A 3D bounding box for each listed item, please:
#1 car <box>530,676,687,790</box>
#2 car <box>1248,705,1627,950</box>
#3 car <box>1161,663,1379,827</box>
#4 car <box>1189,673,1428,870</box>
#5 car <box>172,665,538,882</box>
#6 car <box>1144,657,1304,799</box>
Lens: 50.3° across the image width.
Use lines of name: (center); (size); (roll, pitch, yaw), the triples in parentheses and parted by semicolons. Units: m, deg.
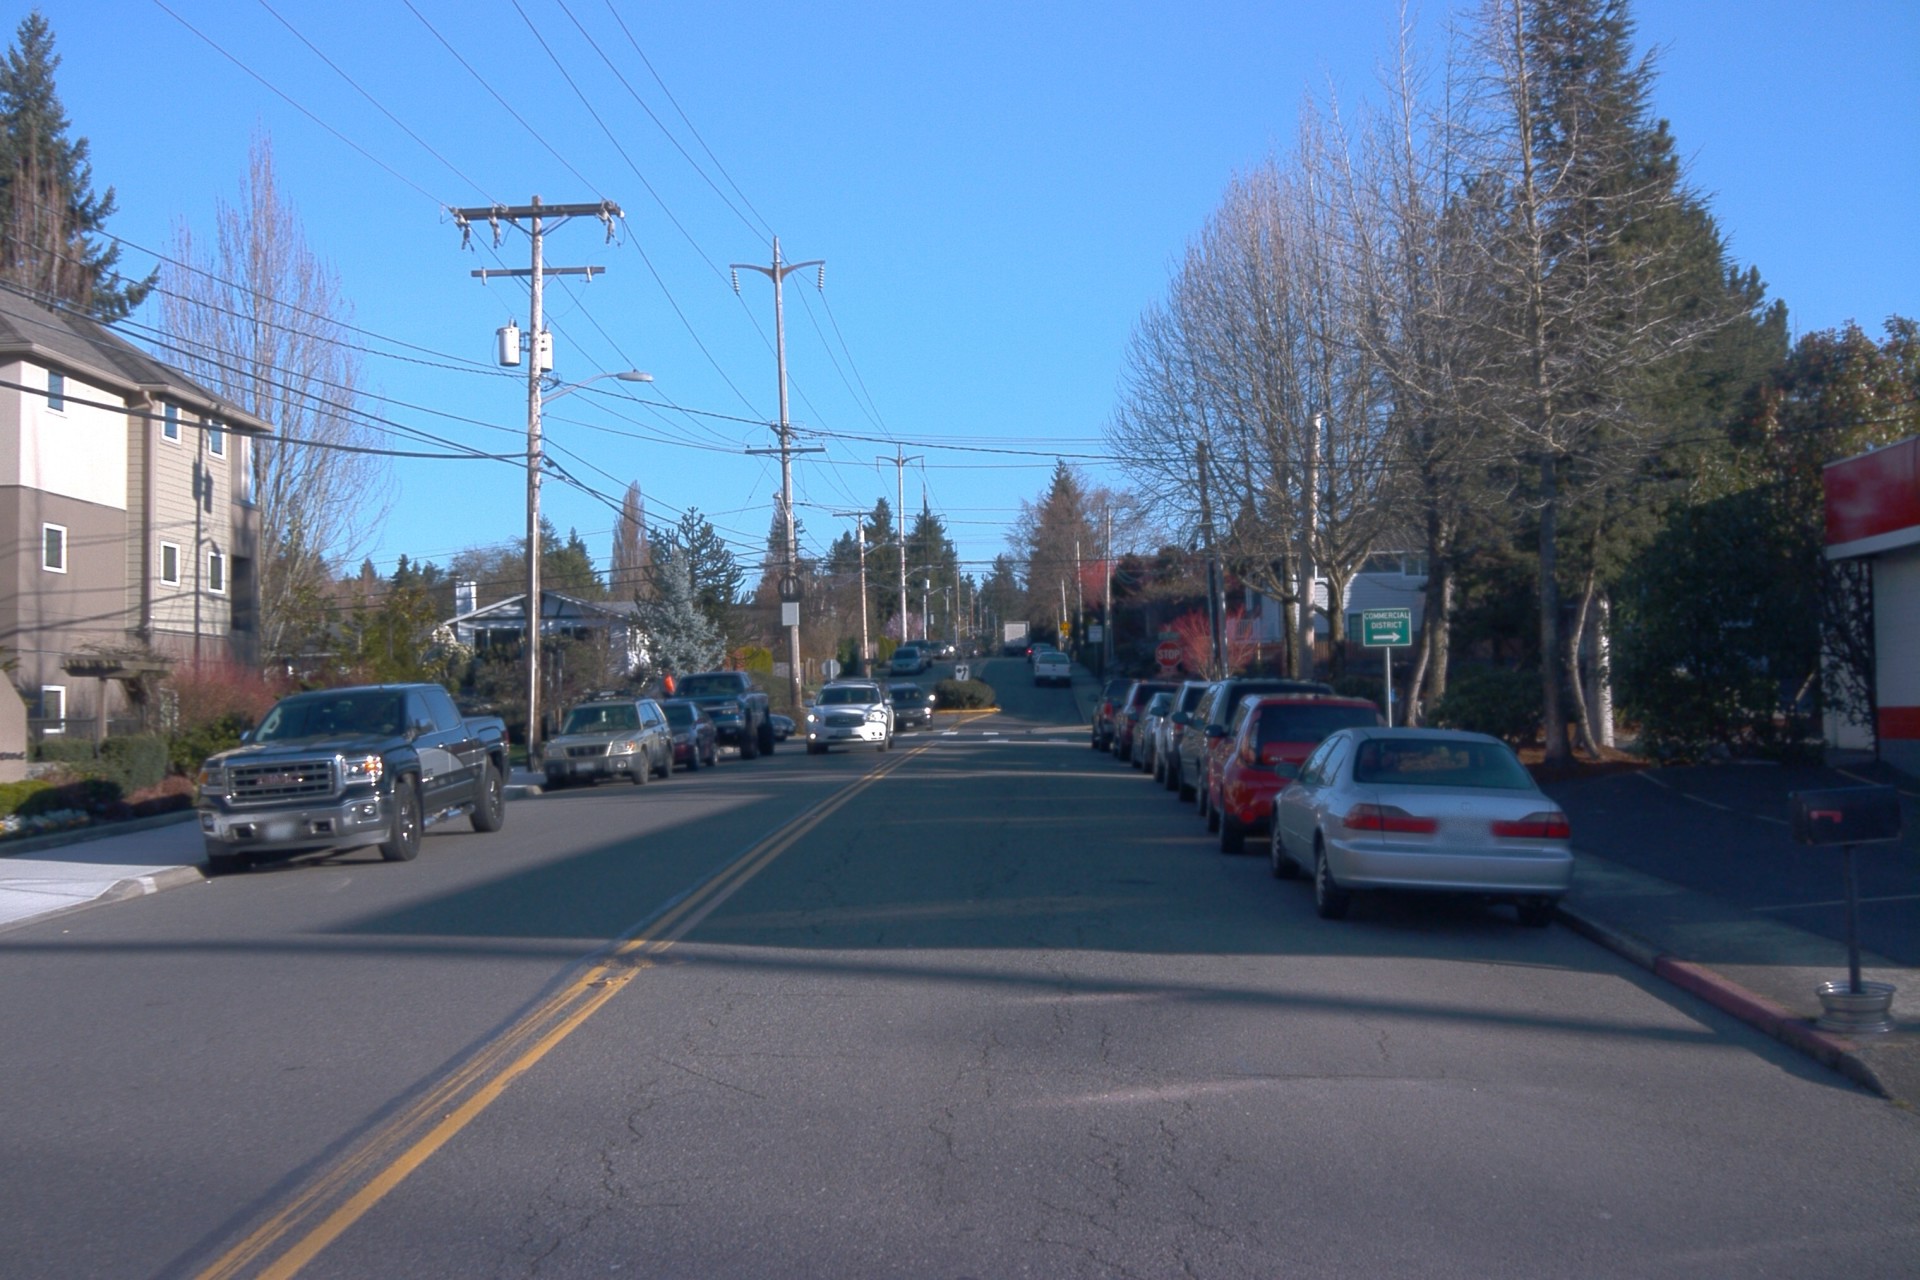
car: (-6.366, 1.644, 37.510); (2.003, 1.820, 4.449); (1, 0, 1)
car: (3.644, 1.375, 16.583); (2.036, 1.480, 4.826); (1, 0, 1)
car: (3.906, 1.264, 26.638); (2.294, 1.820, 4.918); (1, 0, 3)
car: (3.555, 1.290, 21.558); (1.979, 1.750, 4.059); (1, 0, 3)
car: (-6.639, 1.371, 23.300); (2.334, 2.020, 5.796); (1, 0, 1)
car: (4.066, 1.300, 32.203); (2.117, 1.980, 4.584); (1, 0, 3)
